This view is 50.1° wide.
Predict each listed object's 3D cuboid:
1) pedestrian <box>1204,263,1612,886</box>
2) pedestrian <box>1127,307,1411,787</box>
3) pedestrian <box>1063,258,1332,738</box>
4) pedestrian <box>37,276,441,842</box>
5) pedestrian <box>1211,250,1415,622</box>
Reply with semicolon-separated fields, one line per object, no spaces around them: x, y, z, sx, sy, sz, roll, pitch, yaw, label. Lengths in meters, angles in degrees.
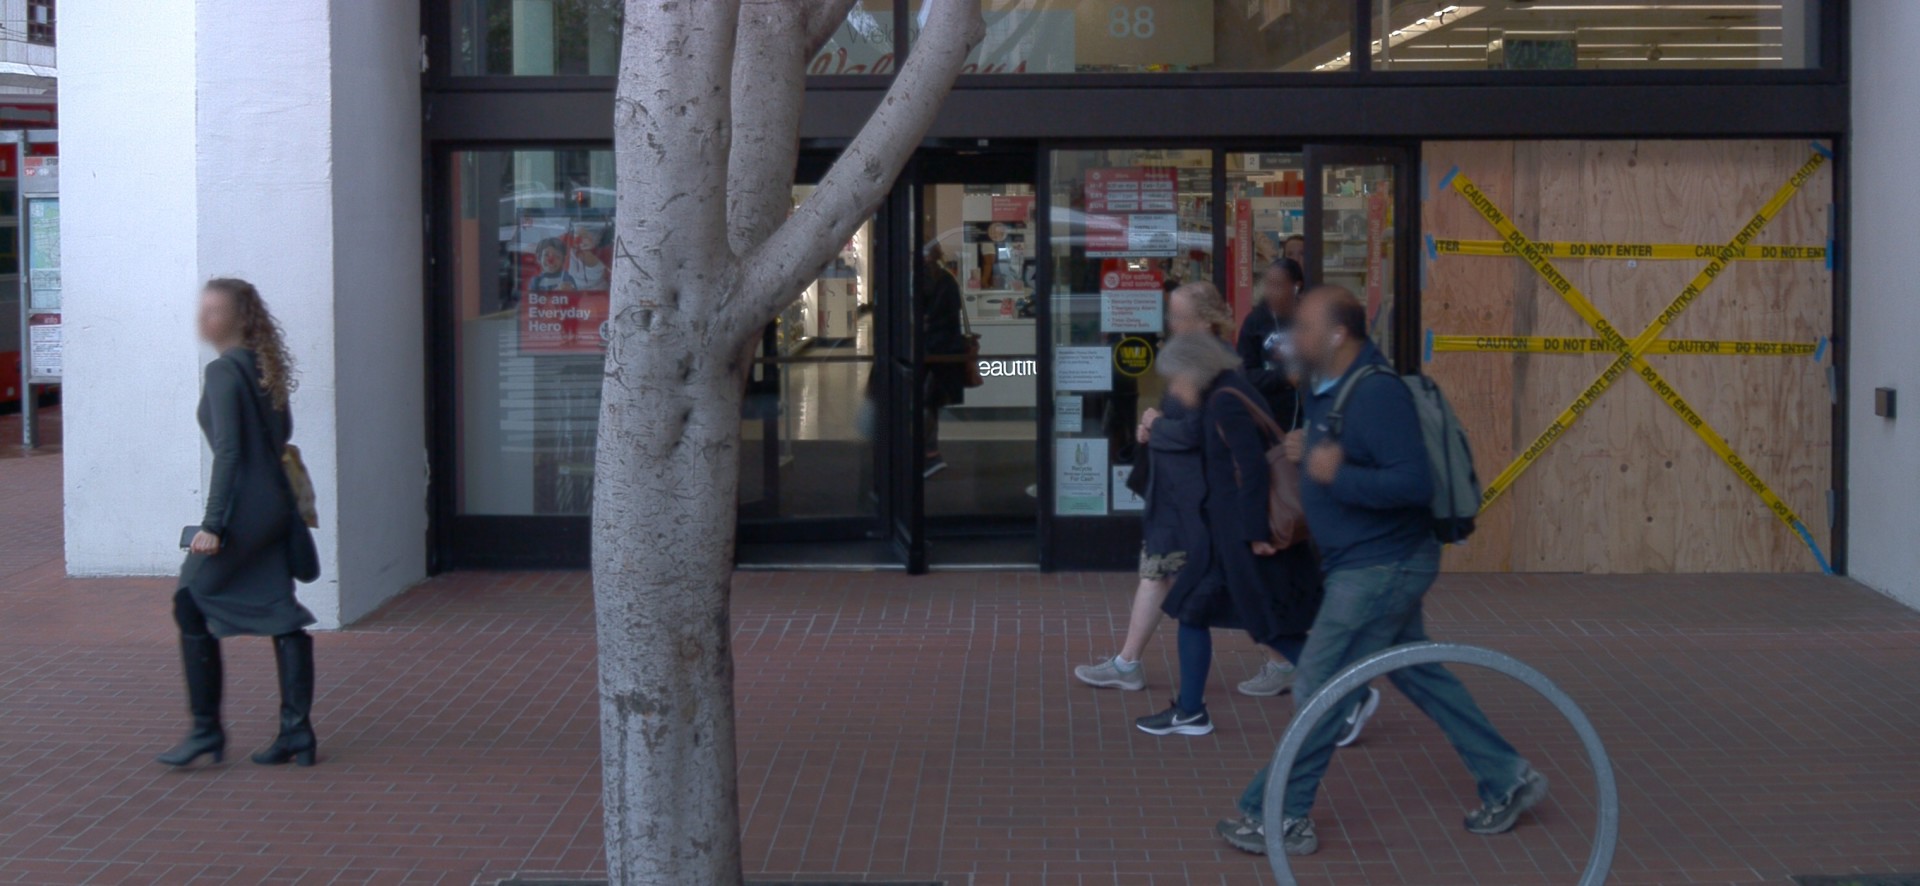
1.270;0.368;6.012;1.004;1.775;0.835;0;1;-1;pedestrian
1.051;0.317;7.170;0.893;1.555;0.782;0;1;1;pedestrian
0.875;0.163;7.776;0.915;1.715;0.742;0;1;-2;pedestrian
-2.363;0.317;6.828;0.969;1.725;0.849;0;1;10;pedestrian
1.645;-0.076;9.676;0.696;1.655;0.866;0;1;-10;pedestrian
